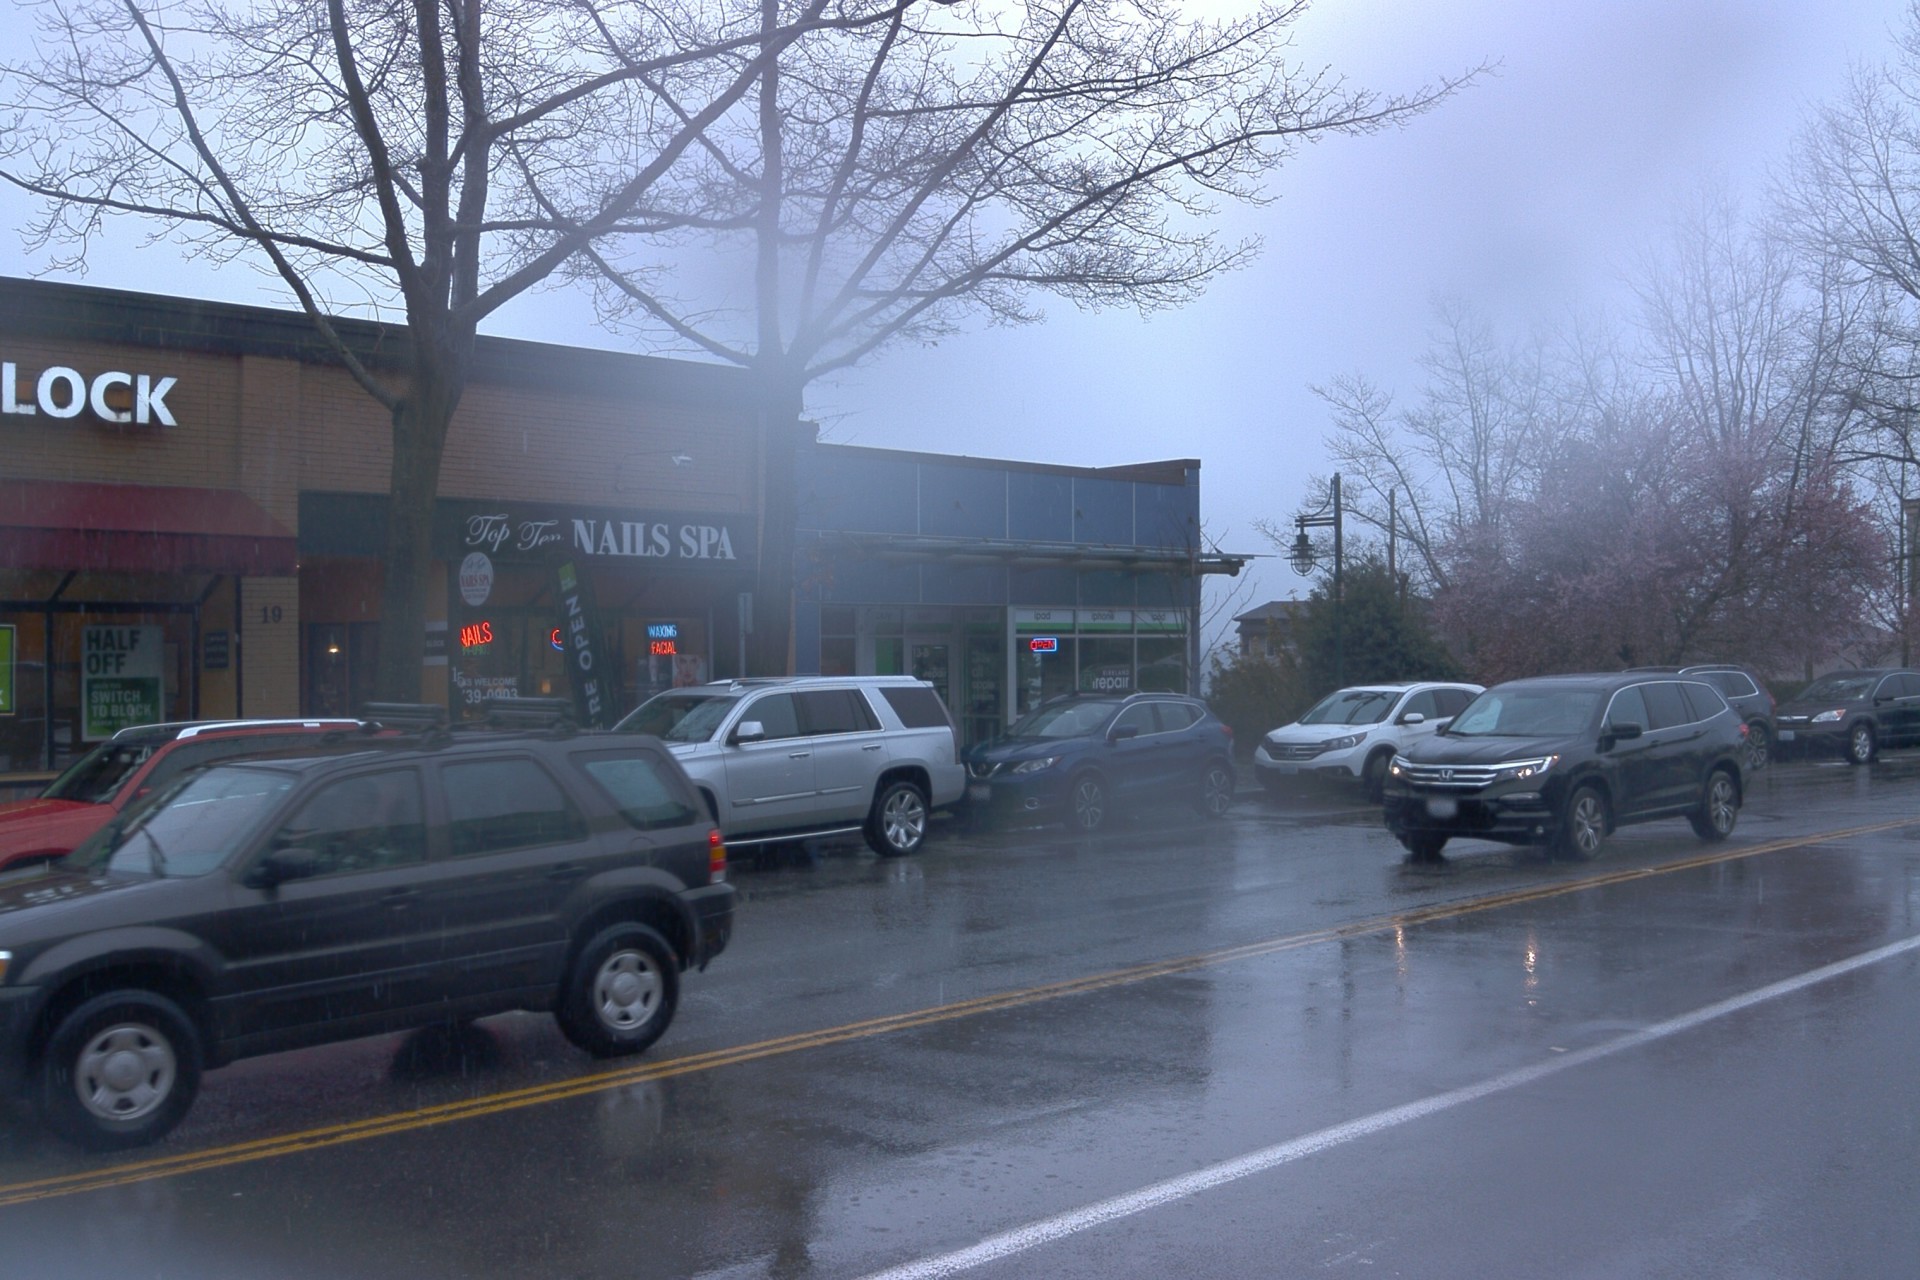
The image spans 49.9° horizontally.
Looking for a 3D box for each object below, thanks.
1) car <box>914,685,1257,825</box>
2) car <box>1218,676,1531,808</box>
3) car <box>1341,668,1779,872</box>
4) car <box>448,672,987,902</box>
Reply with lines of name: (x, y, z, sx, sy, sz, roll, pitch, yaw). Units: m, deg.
car: (1.623, 1.334, 25.280, 1.999, 1.400, 4.335, 1, 1, 40)
car: (5.999, 1.391, 29.599, 4.481, 1.610, 2.181, -1, 1, -43)
car: (6.244, 1.197, 21.072, 2.073, 1.690, 5.207, 1, 1, 44)
car: (-2.323, 1.345, 21.042, 2.331, 1.890, 5.194, 1, 1, 42)
